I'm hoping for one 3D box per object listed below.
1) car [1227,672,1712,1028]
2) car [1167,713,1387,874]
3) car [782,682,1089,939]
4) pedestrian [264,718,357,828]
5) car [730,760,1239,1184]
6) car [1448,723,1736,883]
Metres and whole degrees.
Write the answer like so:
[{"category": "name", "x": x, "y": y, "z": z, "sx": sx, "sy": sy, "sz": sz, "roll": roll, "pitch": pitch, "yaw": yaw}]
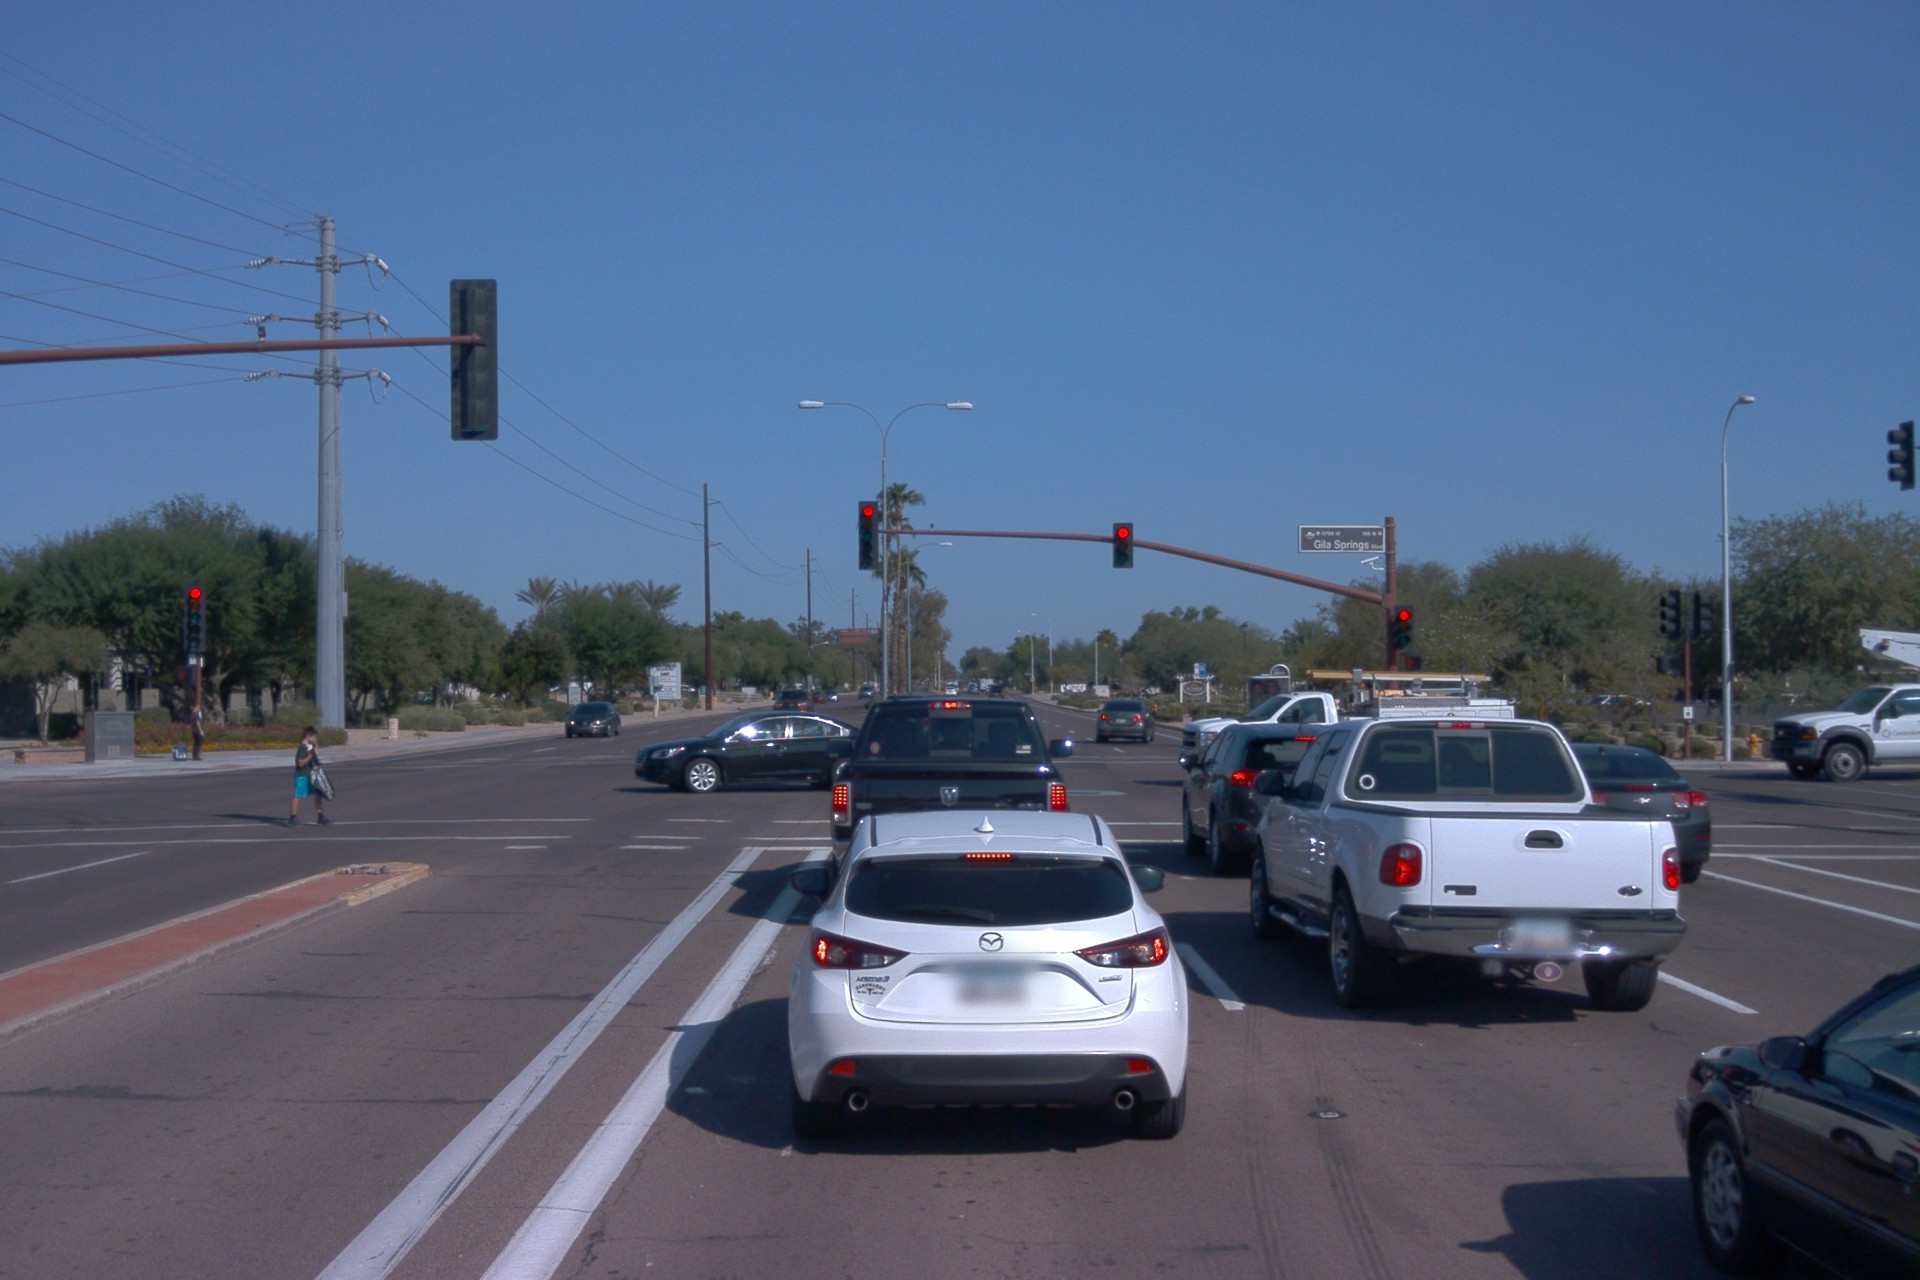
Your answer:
[{"category": "car", "x": 3.321, "y": 1.296, "z": 14.897, "sx": 2.073, "sy": 2.070, "sz": 5.518, "roll": 0, "pitch": -1, "yaw": 0}, {"category": "car", "x": 3.492, "y": 1.668, "z": 23.681, "sx": 1.789, "sy": 1.630, "sz": 4.213, "roll": 0, "pitch": -1, "yaw": -1}, {"category": "car", "x": -0.123, "y": 1.450, "z": 19.415, "sx": 2.500, "sy": 2.080, "sz": 5.001, "roll": 0, "pitch": -1, "yaw": 2}, {"category": "pedestrian", "x": -9.171, "y": 1.869, "z": 29.420, "sx": 1.087, "sy": 1.530, "sz": 0.743, "roll": 0, "pitch": -1, "yaw": -1}, {"category": "car", "x": 0.107, "y": 1.505, "z": 10.917, "sx": 2.099, "sy": 1.600, "sz": 4.628, "roll": 0, "pitch": -1, "yaw": 0}, {"category": "car", "x": 6.832, "y": 1.713, "z": 23.008, "sx": 1.828, "sy": 1.540, "sz": 4.447, "roll": 0, "pitch": -1, "yaw": 0}]
